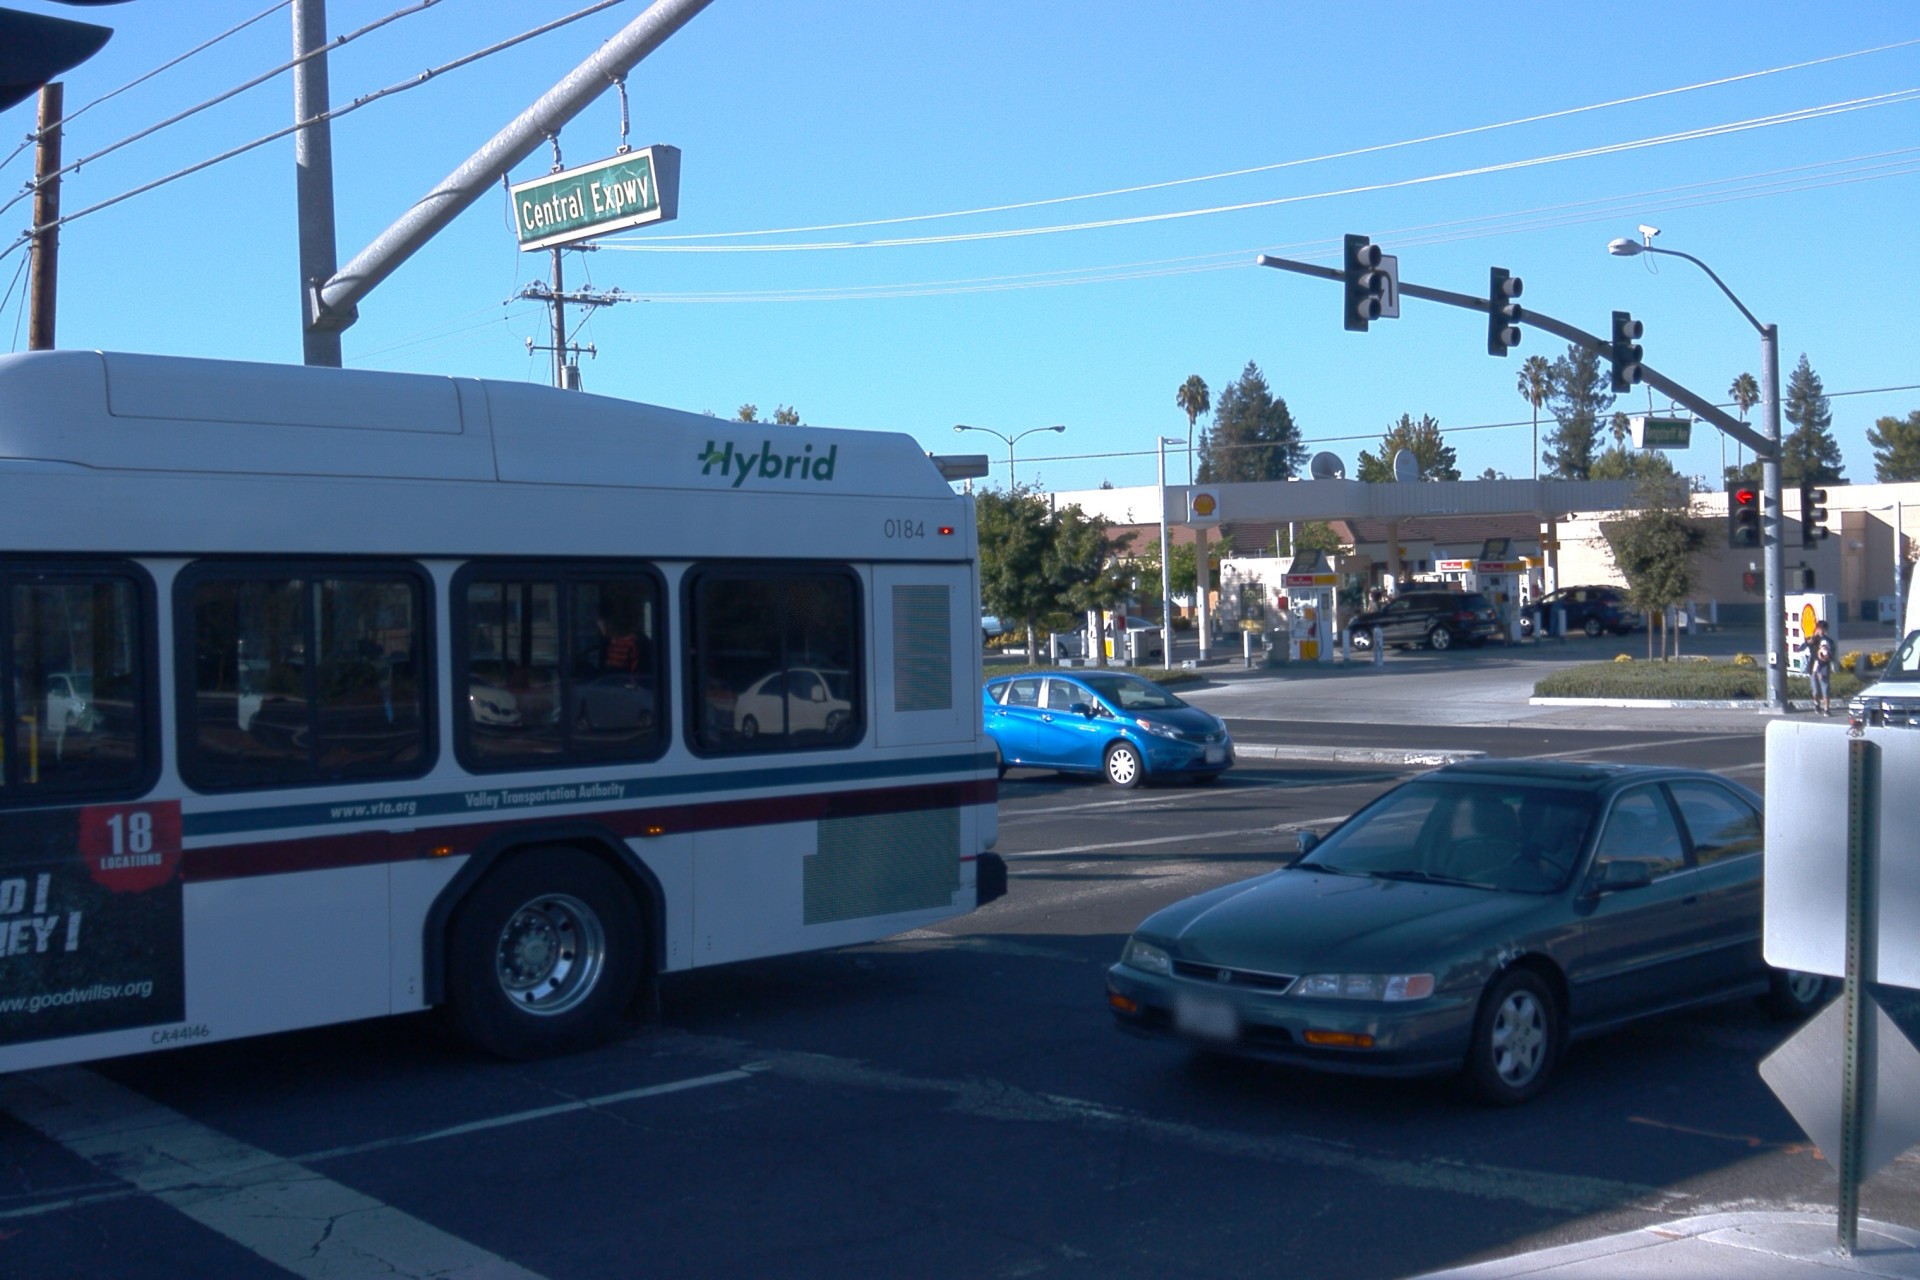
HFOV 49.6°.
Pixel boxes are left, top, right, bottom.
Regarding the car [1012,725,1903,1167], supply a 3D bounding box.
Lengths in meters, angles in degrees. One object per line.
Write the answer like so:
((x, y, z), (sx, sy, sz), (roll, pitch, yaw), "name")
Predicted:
((2.705, 1.290, 10.487), (4.808, 1.560, 2.063), (1, -1, -43), "car")

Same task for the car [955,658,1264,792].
((1.968, 1.091, 28.250), (1.793, 1.670, 4.087), (1, -1, -42), "car")
